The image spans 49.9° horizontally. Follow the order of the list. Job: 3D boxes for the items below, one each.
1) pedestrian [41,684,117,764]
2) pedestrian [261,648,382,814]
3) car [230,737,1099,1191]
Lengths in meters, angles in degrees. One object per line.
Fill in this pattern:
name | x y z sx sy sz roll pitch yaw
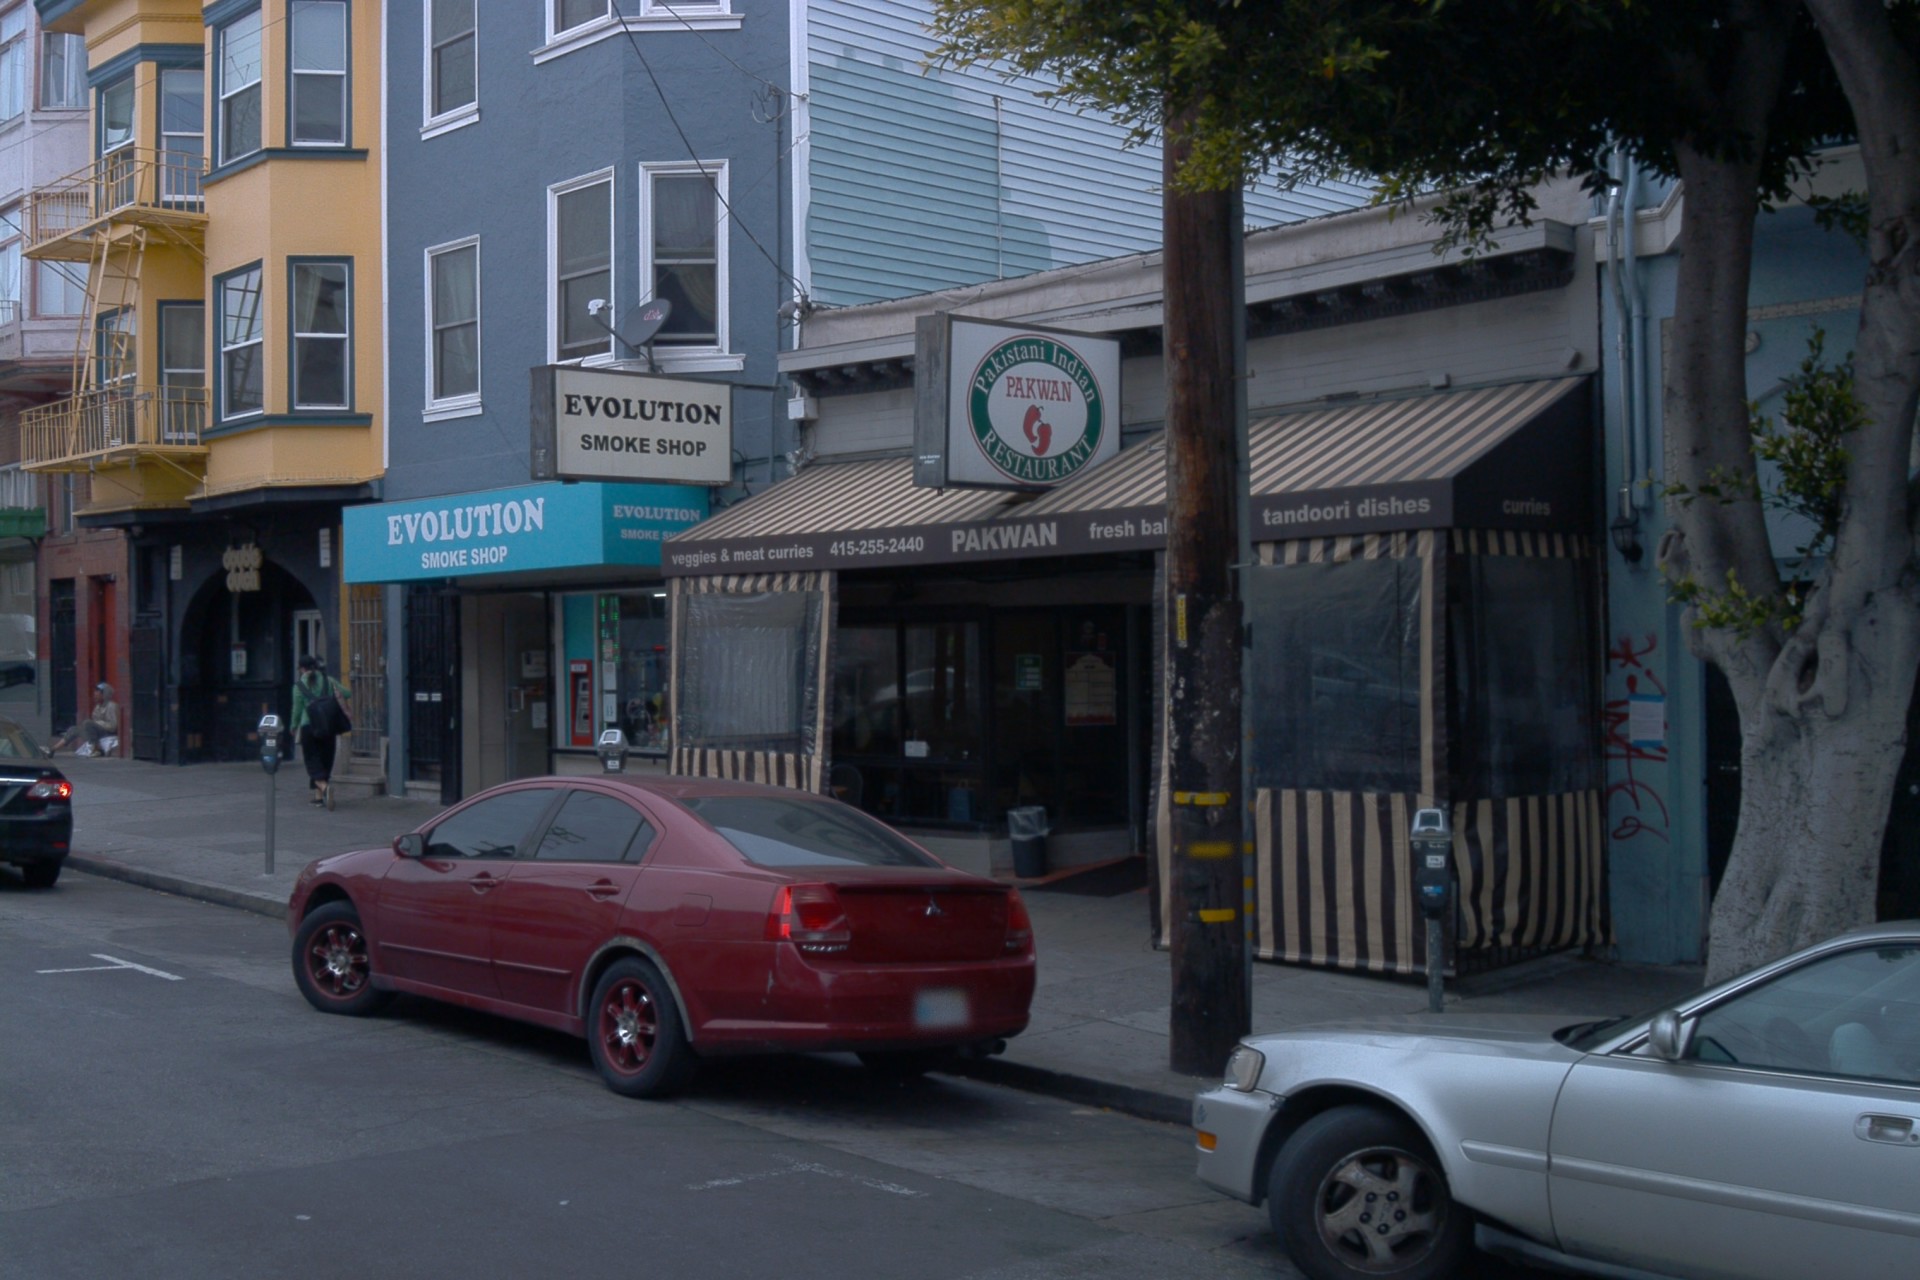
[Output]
pedestrian | -12.626 1.191 29.600 0.811 1.100 0.736 1 1 44
pedestrian | -7.035 0.974 22.743 0.910 1.750 1.078 -1 1 -41
car | -1.785 1.458 11.027 2.081 1.610 4.887 -1 1 -45
